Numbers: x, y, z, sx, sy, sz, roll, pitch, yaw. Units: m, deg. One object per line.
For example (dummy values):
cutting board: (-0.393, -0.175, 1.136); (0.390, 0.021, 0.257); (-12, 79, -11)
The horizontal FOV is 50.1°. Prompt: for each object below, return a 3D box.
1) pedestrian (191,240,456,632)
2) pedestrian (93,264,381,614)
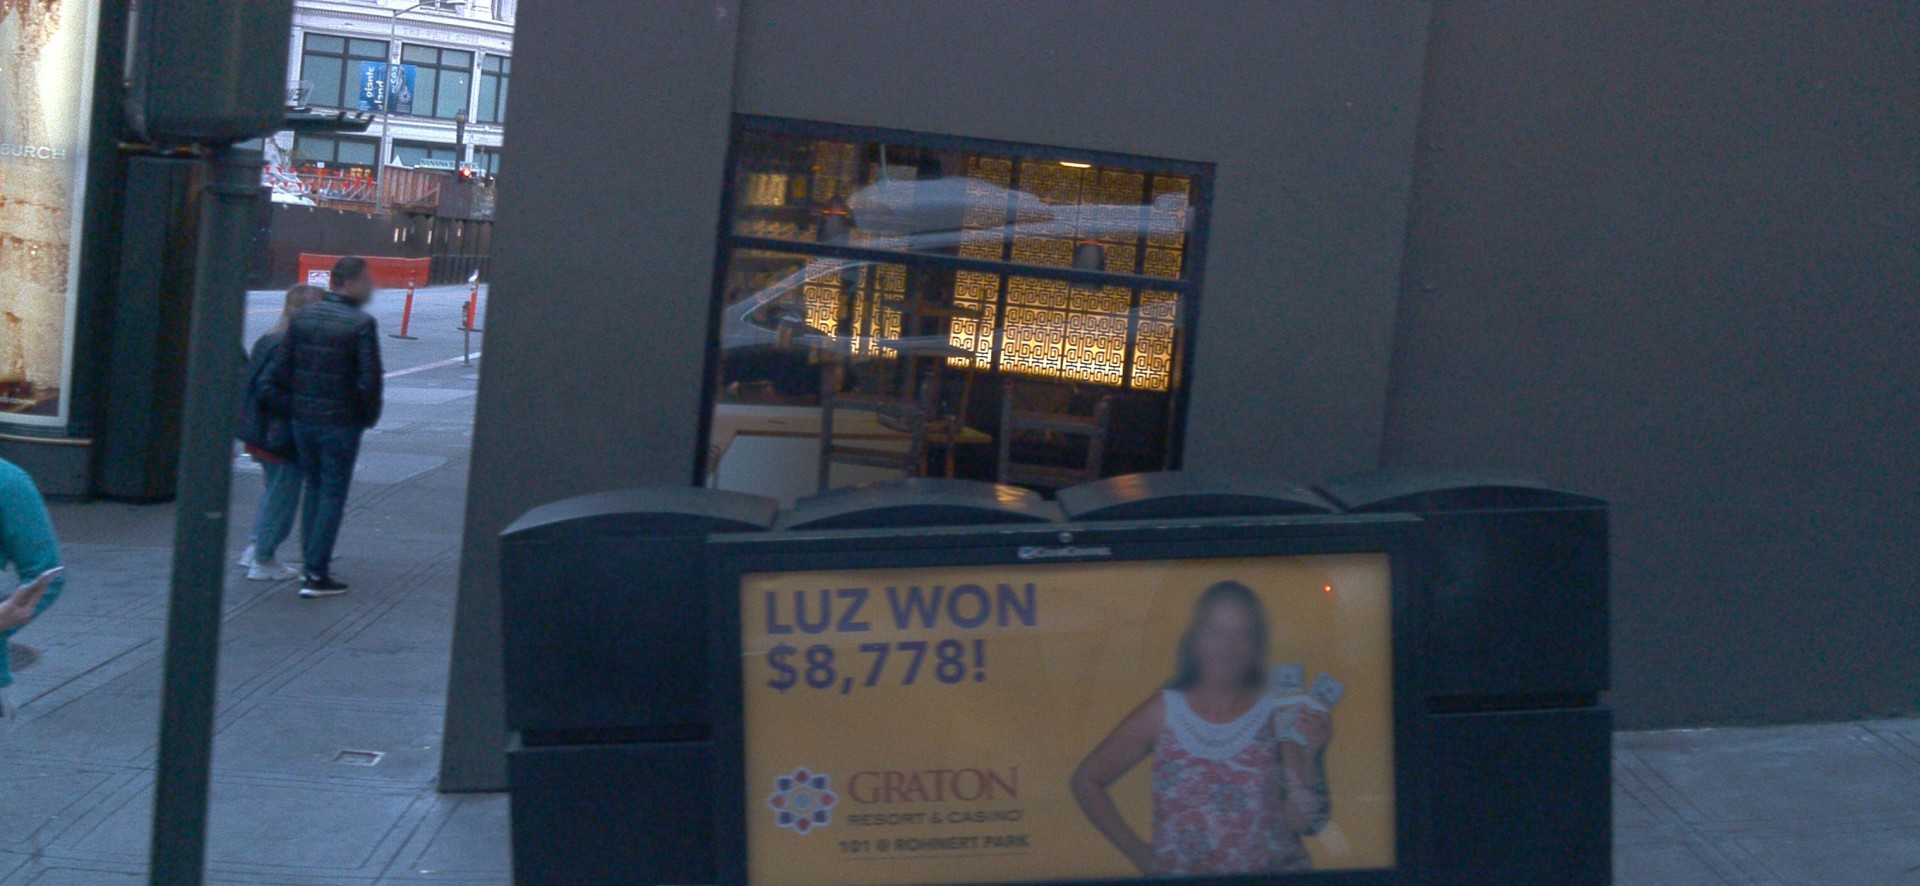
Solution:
pedestrian: (-3.166, -0.093, 10.309); (0.842, 1.850, 1.068); (0, 2, 13)
pedestrian: (-3.720, -0.076, 10.648); (0.999, 1.691, 1.037); (0, 2, 14)
